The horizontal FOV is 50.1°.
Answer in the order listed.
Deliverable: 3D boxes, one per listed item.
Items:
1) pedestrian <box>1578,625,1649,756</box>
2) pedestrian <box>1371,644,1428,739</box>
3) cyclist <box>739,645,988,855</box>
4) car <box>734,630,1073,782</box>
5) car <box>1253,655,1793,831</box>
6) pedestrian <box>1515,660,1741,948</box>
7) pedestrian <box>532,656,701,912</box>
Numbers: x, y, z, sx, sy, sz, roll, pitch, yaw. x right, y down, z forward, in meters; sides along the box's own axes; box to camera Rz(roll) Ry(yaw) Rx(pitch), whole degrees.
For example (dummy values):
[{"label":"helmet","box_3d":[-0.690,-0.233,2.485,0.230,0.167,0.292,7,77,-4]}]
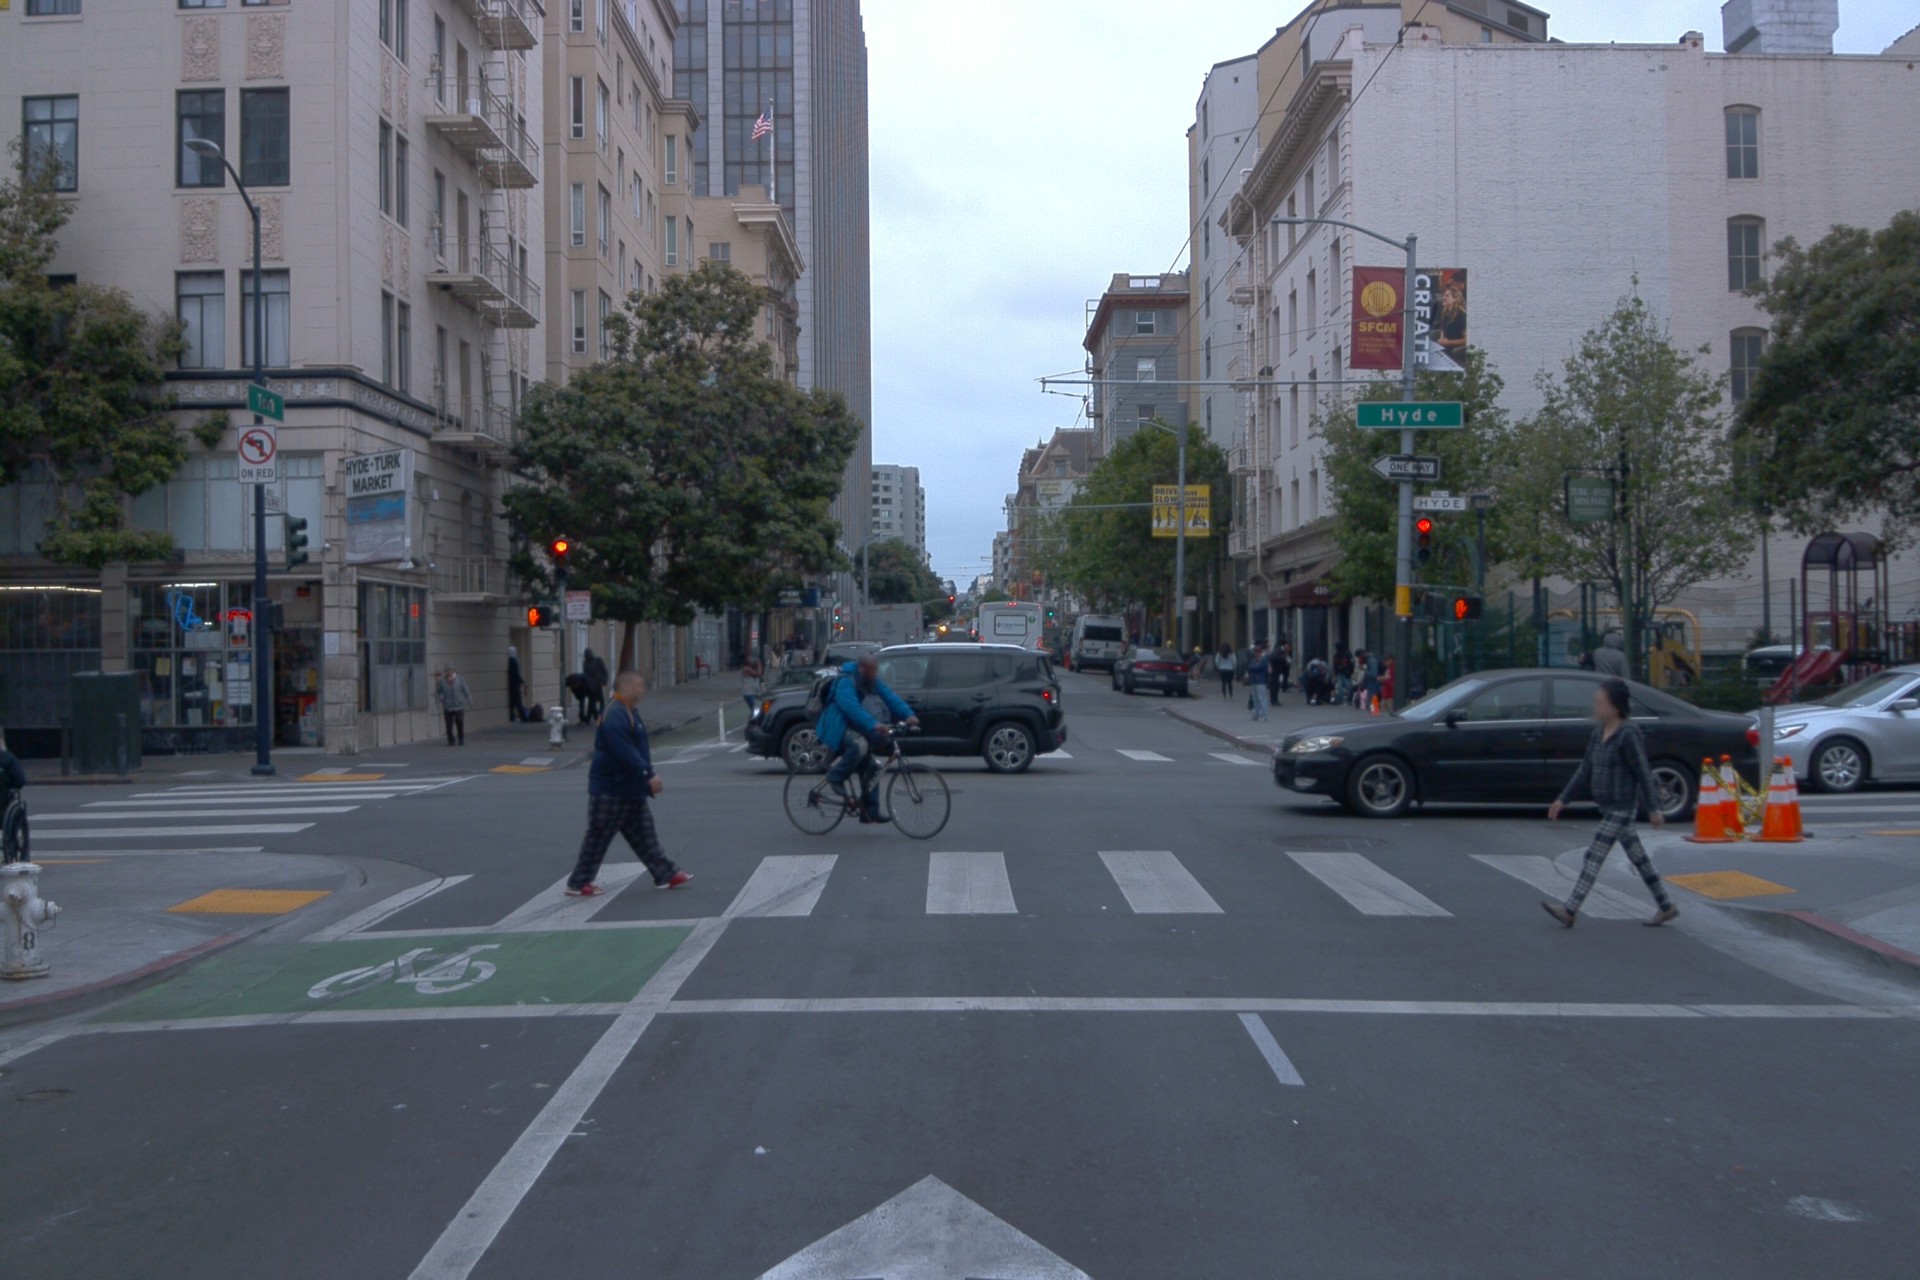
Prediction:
[{"label":"pedestrian","box_3d":[10.295,0.777,32.386,0.836,2.010,0.794,0,1,38]},{"label":"pedestrian","box_3d":[7.653,0.888,35.834,0.906,1.620,0.868,0,1,9]},{"label":"cyclist","box_3d":[-0.861,0.934,18.314,1.970,1.750,1.003,0,1,29]},{"label":"car","box_3d":[-0.708,0.826,26.807,4.251,1.870,1.916,0,1,1]},{"label":"car","box_3d":[5.487,0.990,20.566,4.826,1.600,2.060,0,1,2]},{"label":"pedestrian","box_3d":[4.300,1.026,13.317,1.094,1.760,0.987,0,1,-4]},{"label":"pedestrian","box_3d":[-2.501,1.031,15.085,1.036,1.800,0.907,0,1,4]}]
